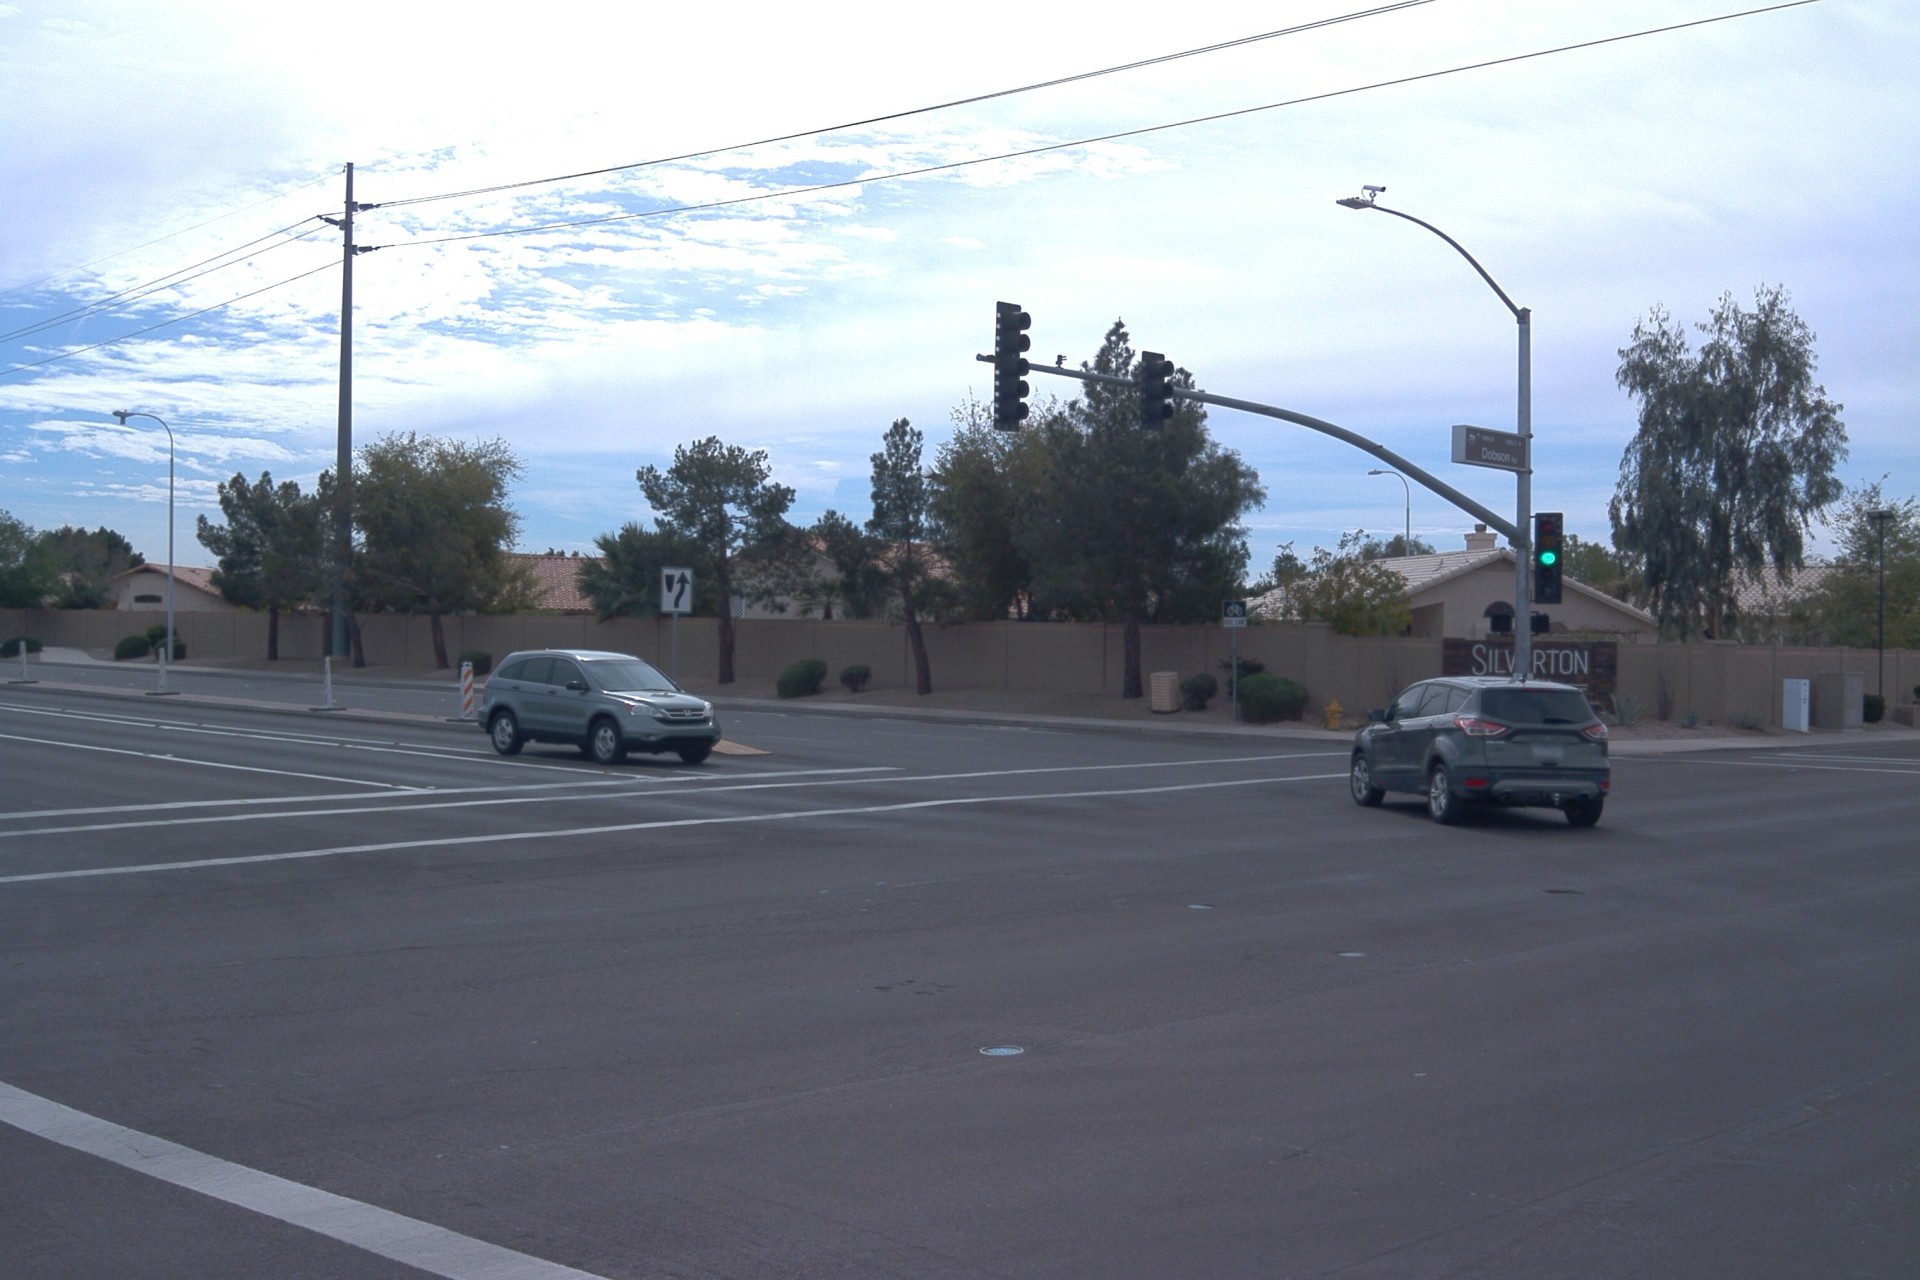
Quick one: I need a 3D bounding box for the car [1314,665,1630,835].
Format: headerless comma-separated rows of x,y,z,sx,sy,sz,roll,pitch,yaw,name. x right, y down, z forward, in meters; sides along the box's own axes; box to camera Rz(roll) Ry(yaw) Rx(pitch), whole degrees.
5.920,1.223,24.563,2.126,1.740,4.598,1,0,-7,car

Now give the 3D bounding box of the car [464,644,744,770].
-5.576,0.981,32.064,4.385,1.760,2.061,1,0,44,car
